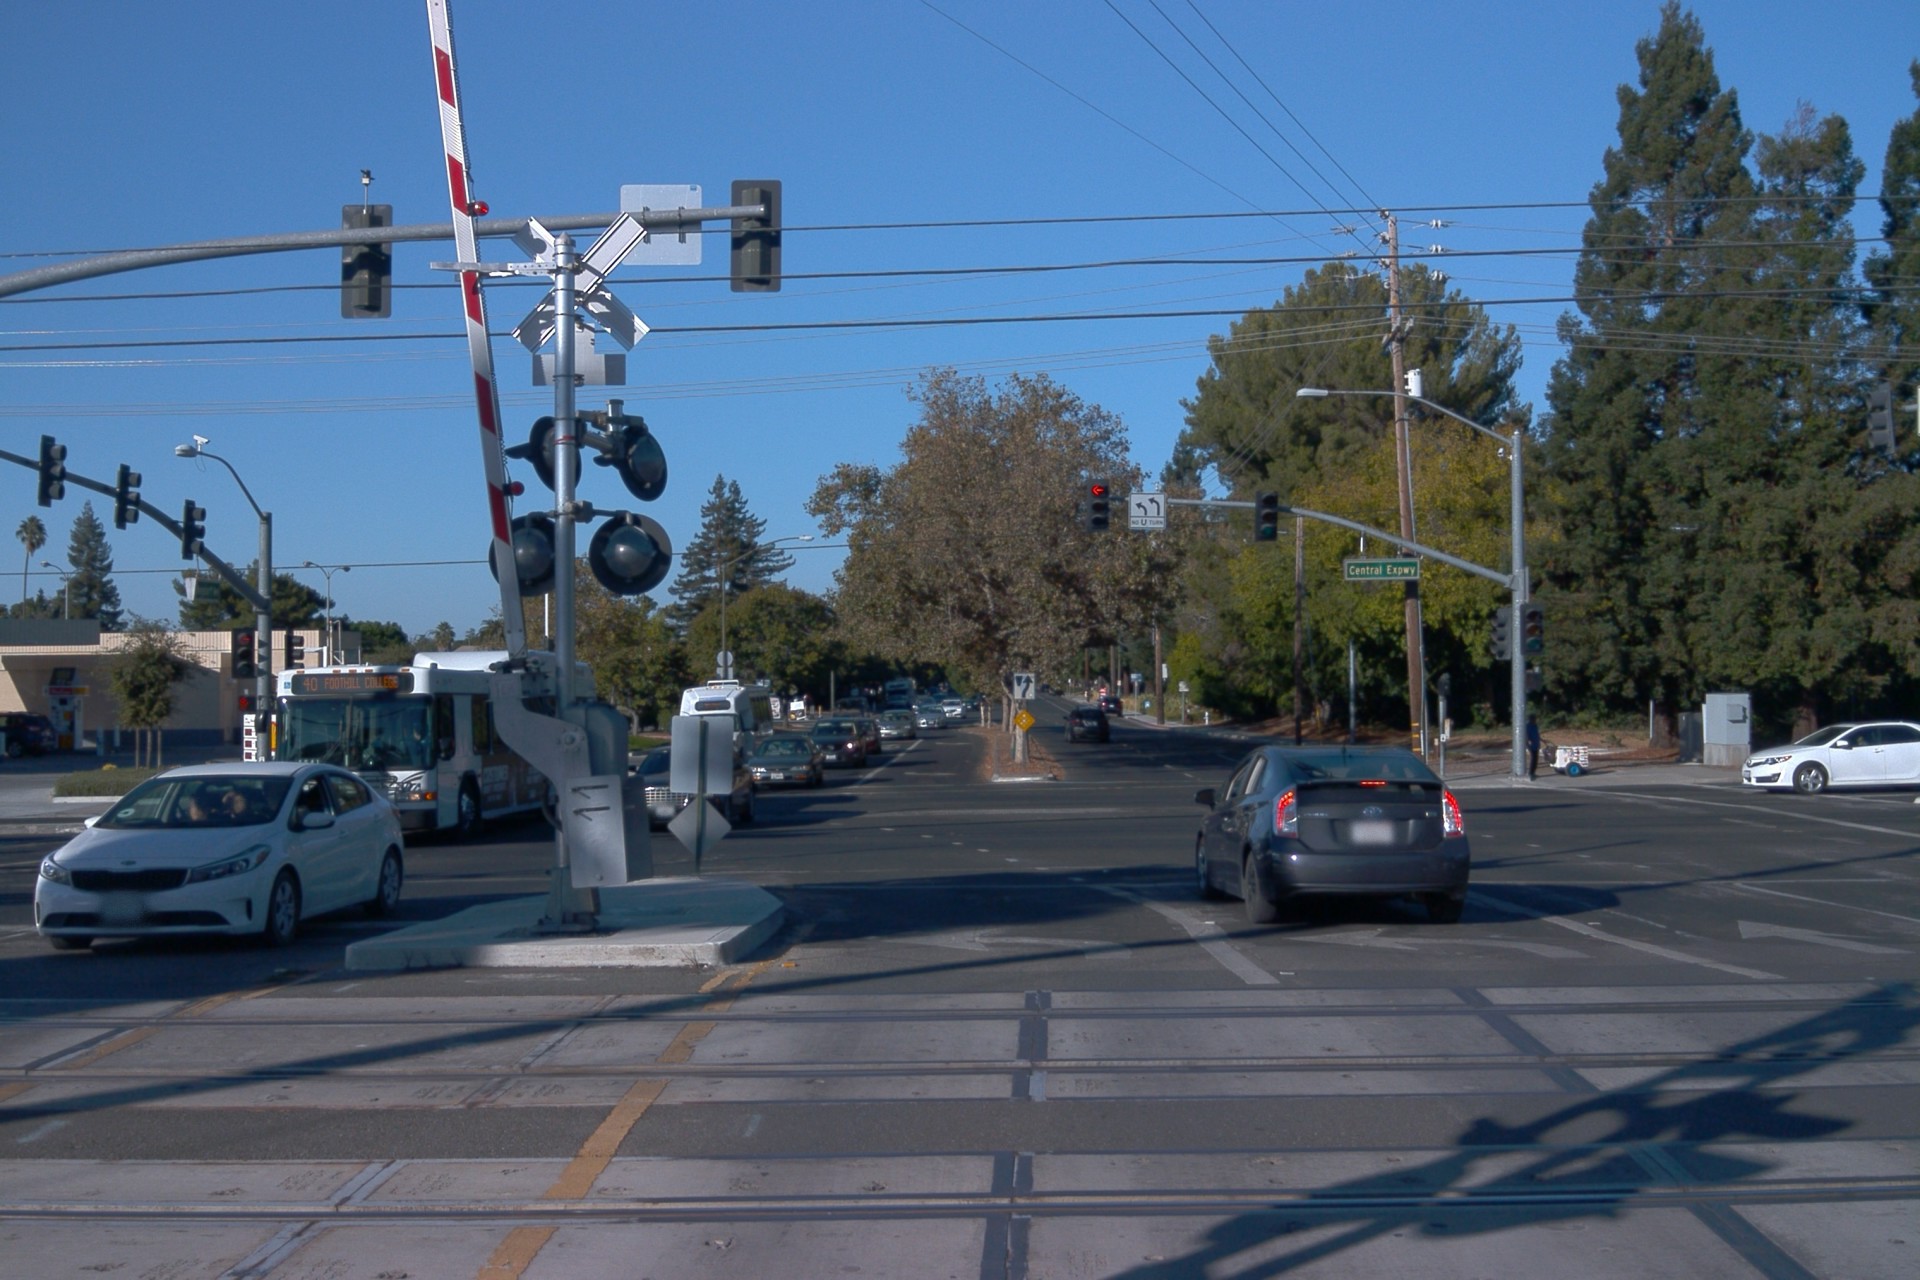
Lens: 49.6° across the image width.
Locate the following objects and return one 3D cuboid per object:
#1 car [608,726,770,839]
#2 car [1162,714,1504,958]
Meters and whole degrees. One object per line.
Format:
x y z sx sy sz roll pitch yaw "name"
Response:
-4.796 2.499 37.471 2.133 1.690 4.868 -1 0 2 "car"
3.133 1.606 18.504 2.060 1.720 4.611 -1 0 -2 "car"
